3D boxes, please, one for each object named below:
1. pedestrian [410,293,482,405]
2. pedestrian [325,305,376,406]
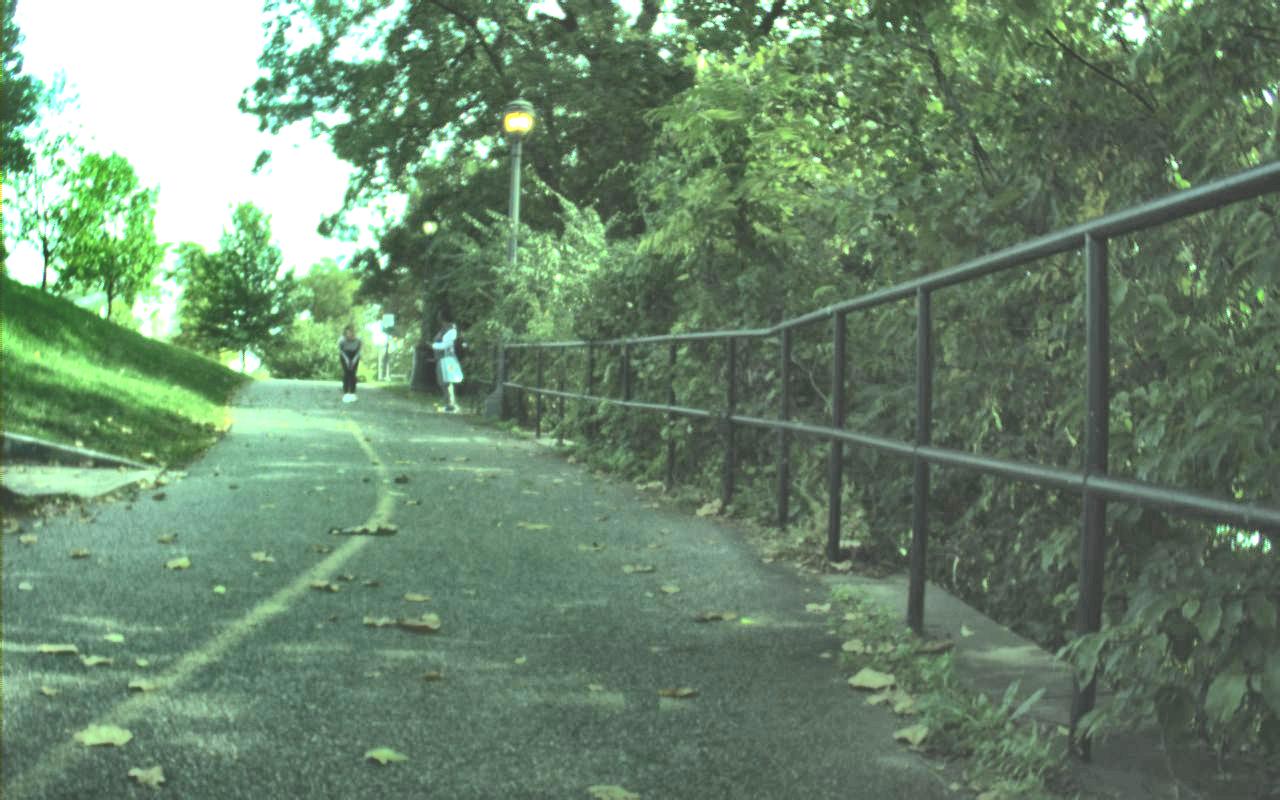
[{"bbox_3d":[-3.115,-0.805,20.094,0.825,1.755,0.826,1,0,26],"label":"pedestrian"},{"bbox_3d":[-5.020,-0.759,21.420,0.852,1.701,0.896,0,0,-11],"label":"pedestrian"}]
